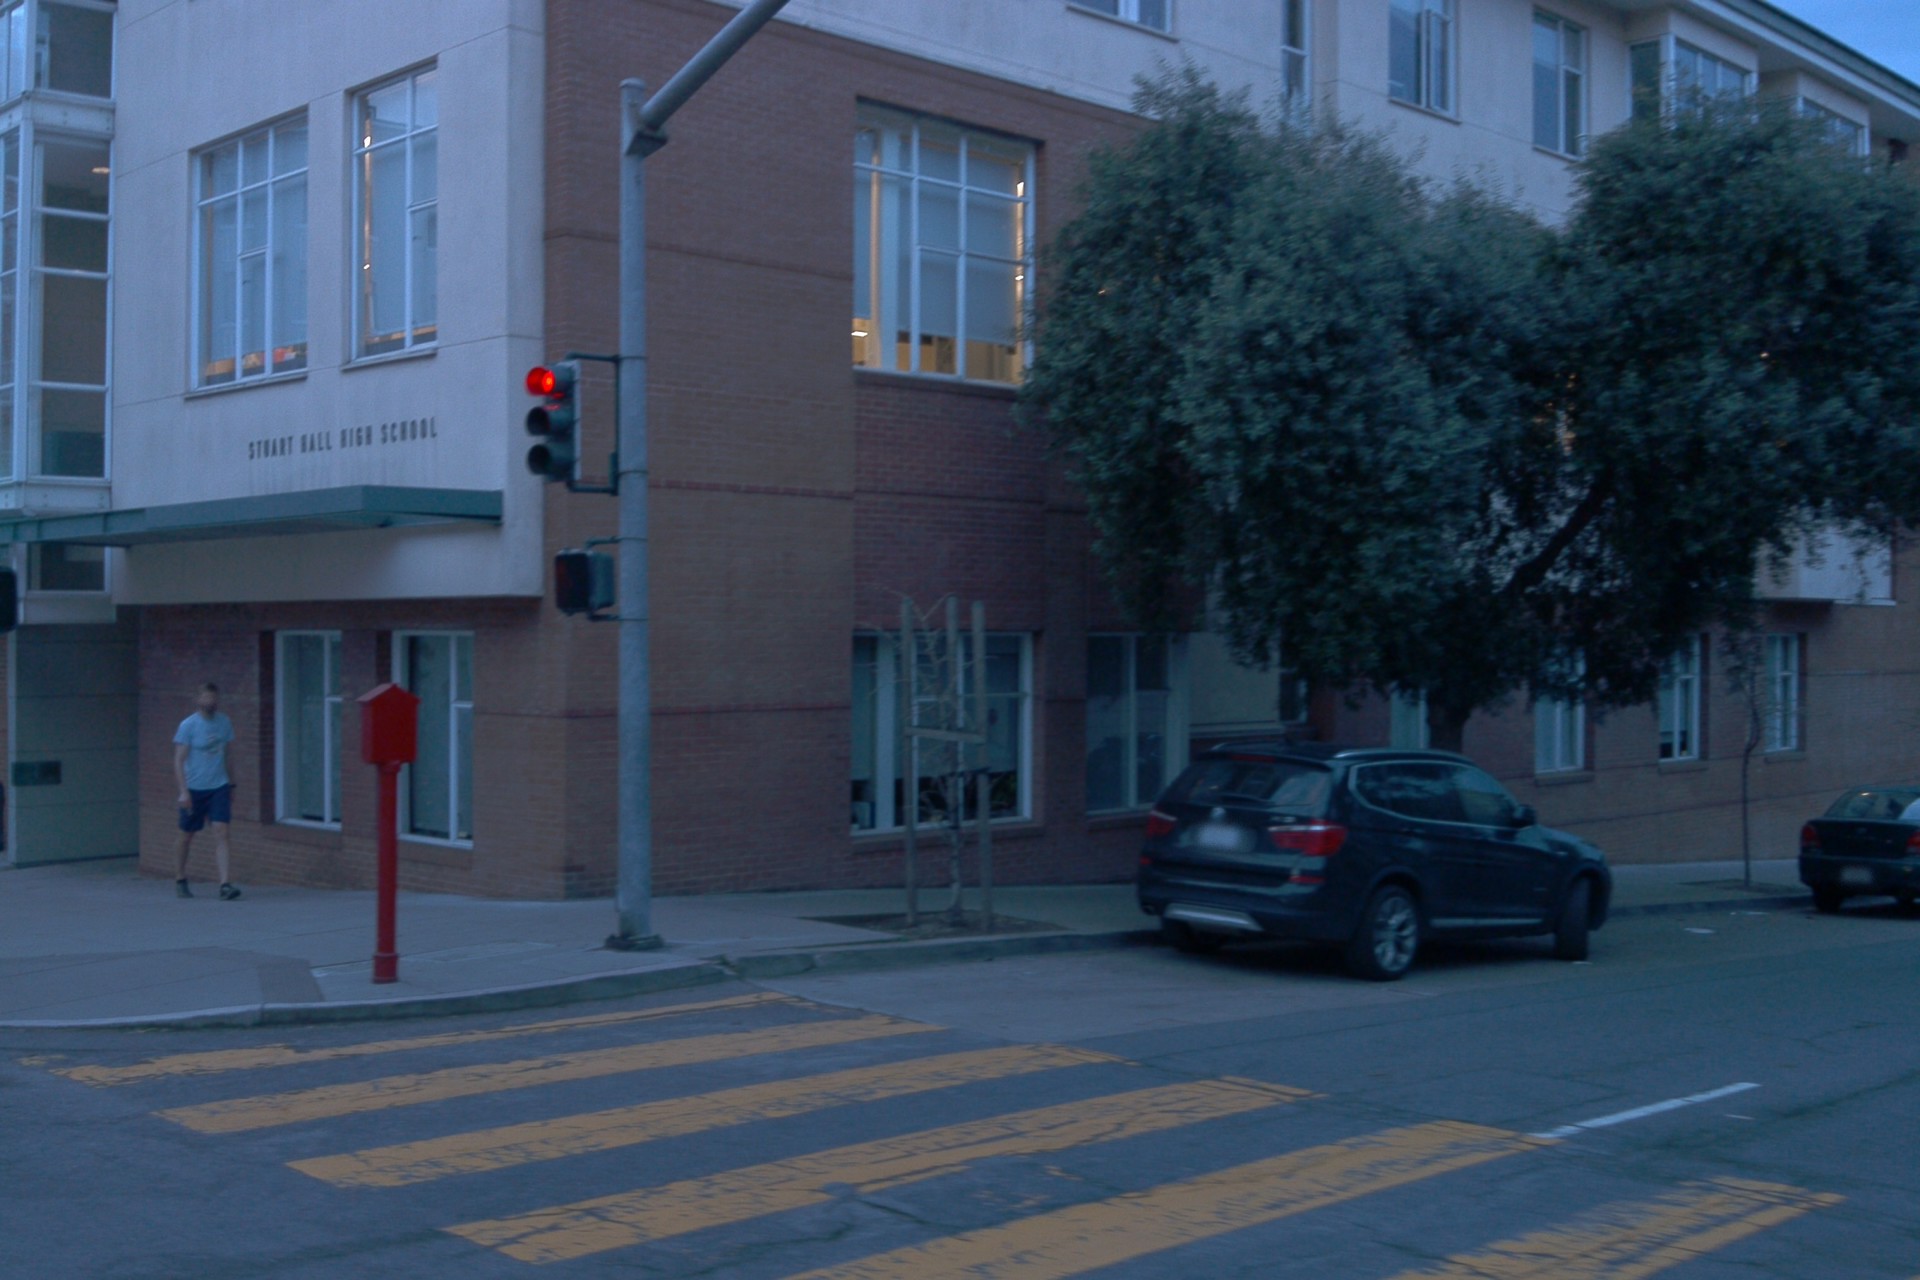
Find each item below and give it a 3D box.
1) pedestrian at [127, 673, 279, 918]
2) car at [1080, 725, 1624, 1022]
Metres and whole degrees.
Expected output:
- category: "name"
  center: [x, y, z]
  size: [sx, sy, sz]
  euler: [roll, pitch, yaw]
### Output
- category: "pedestrian"
  center: [-6.620, 1.318, 17.984]
  size: [0.834, 2.020, 1.187]
  euler: [0, 1, -44]
- category: "car"
  center: [3.194, 1.664, 16.140]
  size: [2.050, 1.780, 4.500]
  euler: [1, 1, 44]
